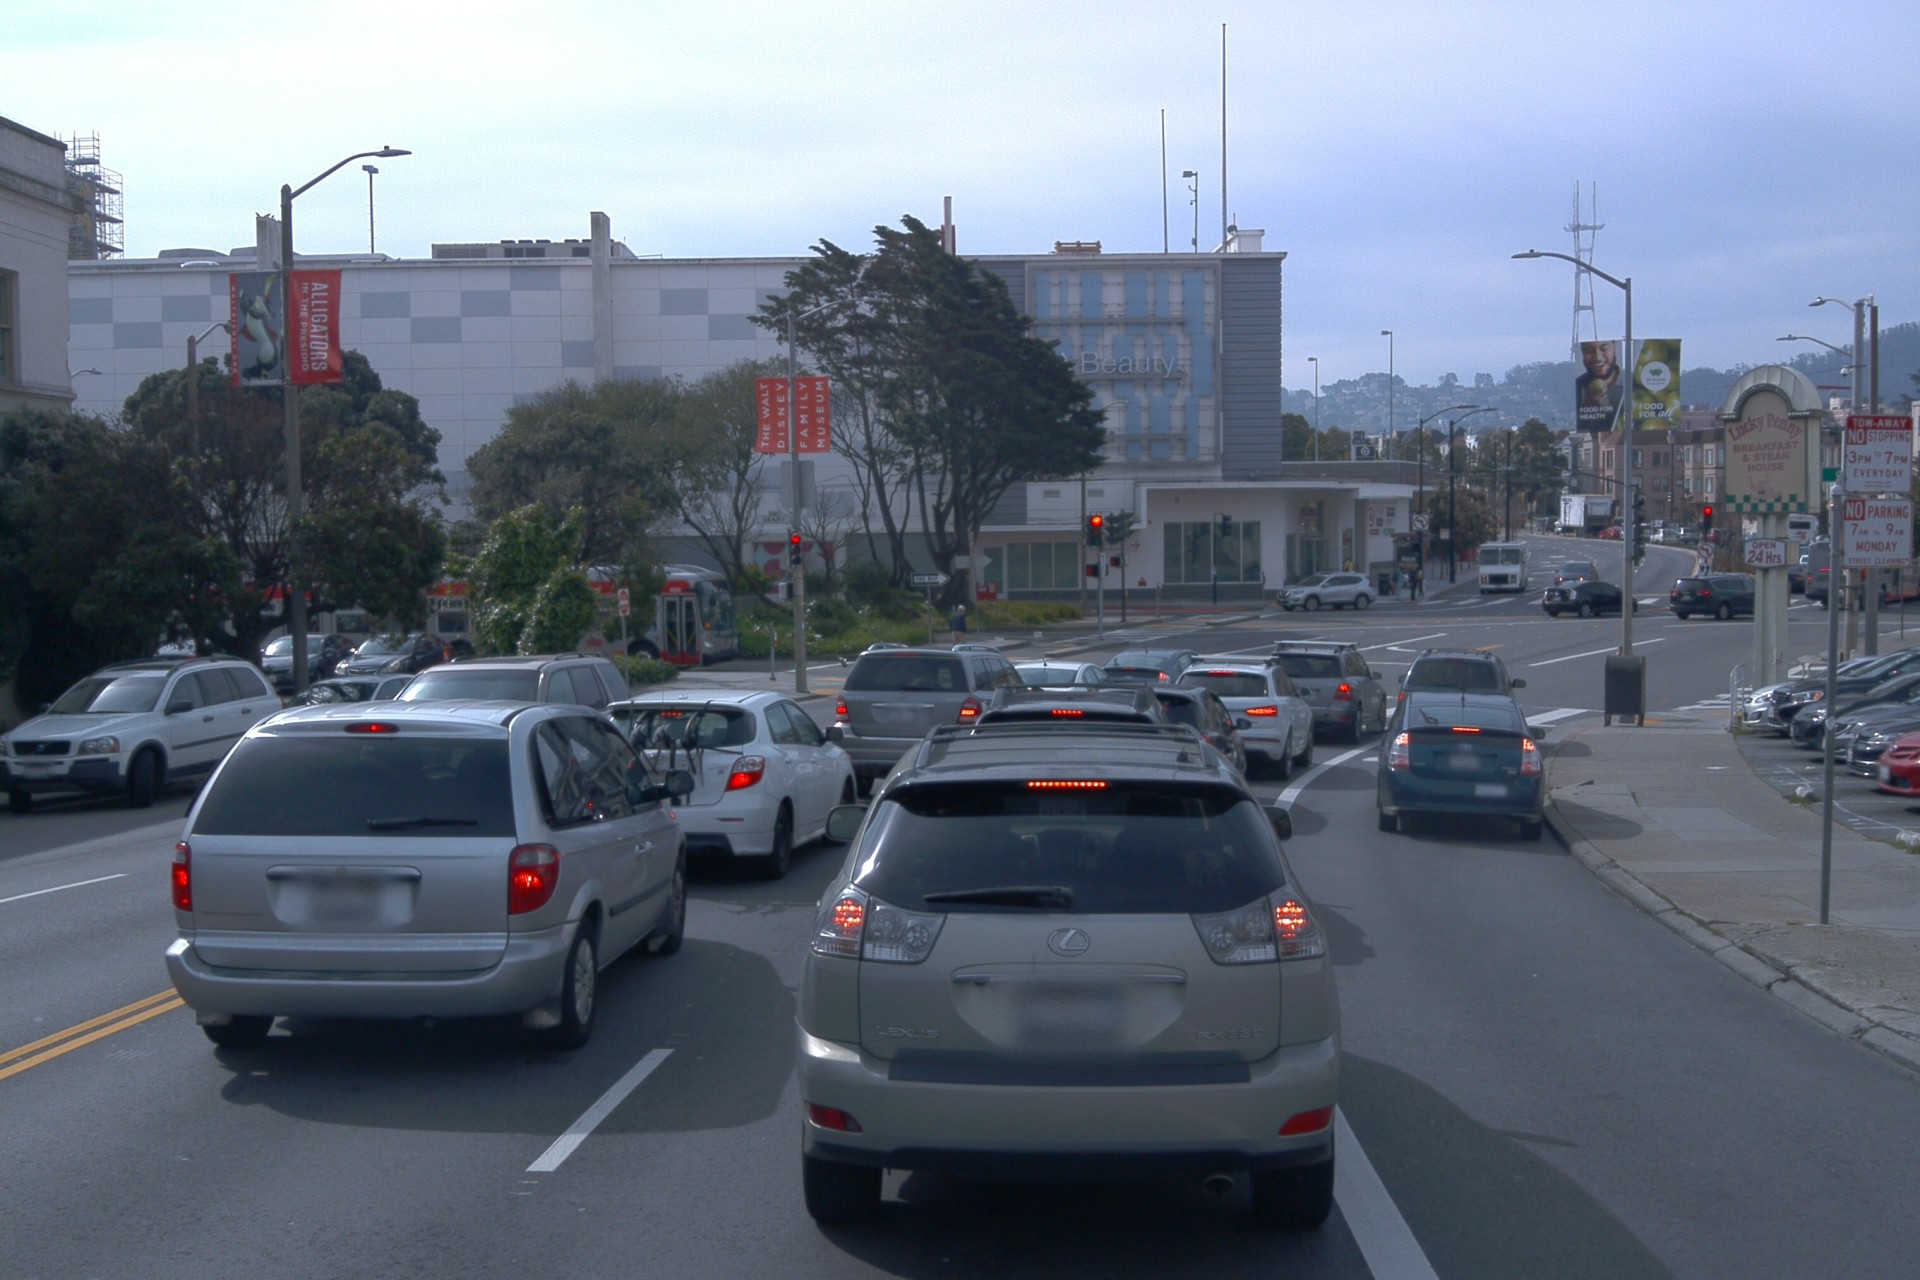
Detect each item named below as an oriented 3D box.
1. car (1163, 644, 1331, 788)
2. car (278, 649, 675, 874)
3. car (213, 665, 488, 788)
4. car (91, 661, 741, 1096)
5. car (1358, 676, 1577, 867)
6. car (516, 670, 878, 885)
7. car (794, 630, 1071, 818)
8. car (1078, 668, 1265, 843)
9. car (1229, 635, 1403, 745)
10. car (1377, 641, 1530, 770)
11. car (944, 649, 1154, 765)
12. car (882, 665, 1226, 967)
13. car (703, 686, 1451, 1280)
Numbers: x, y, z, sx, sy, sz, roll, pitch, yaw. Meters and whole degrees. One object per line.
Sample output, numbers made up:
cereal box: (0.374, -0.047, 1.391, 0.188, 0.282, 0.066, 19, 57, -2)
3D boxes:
car: (4.196, 1.018, 29.401, 1.795, 1.880, 4.044, 1, 0, 17)
car: (-4.727, 1.102, 20.847, 2.244, 1.960, 4.666, 1, 0, 10)
car: (-9.221, 1.257, 31.377, 1.977, 1.640, 4.663, 1, 0, 13)
car: (-2.681, 1.079, 11.412, 2.131, 1.830, 4.635, 1, 0, 4)
car: (5.567, 1.362, 22.970, 2.113, 1.790, 4.646, 1, 0, 11)
car: (-2.120, 1.080, 17.824, 1.982, 1.530, 4.306, 1, 0, 9)
car: (-0.207, 0.935, 25.665, 2.236, 2.100, 4.827, 1, 0, 15)
car: (2.545, 1.258, 23.841, 1.526, 1.780, 3.939, 1, 0, 15)
car: (6.651, 0.844, 37.679, 2.226, 1.850, 5.307, 1, 0, 20)
car: (8.571, 1.052, 35.208, 2.203, 2.020, 4.801, 1, 0, 18)
car: (1.523, 1.006, 32.889, 2.220, 1.670, 4.643, 1, 0, 18)
car: (0.882, 1.169, 15.602, 2.119, 1.870, 4.391, 1, 0, 9)
car: (0.409, 1.150, 8.285, 2.197, 1.780, 4.467, 1, 0, 2)
